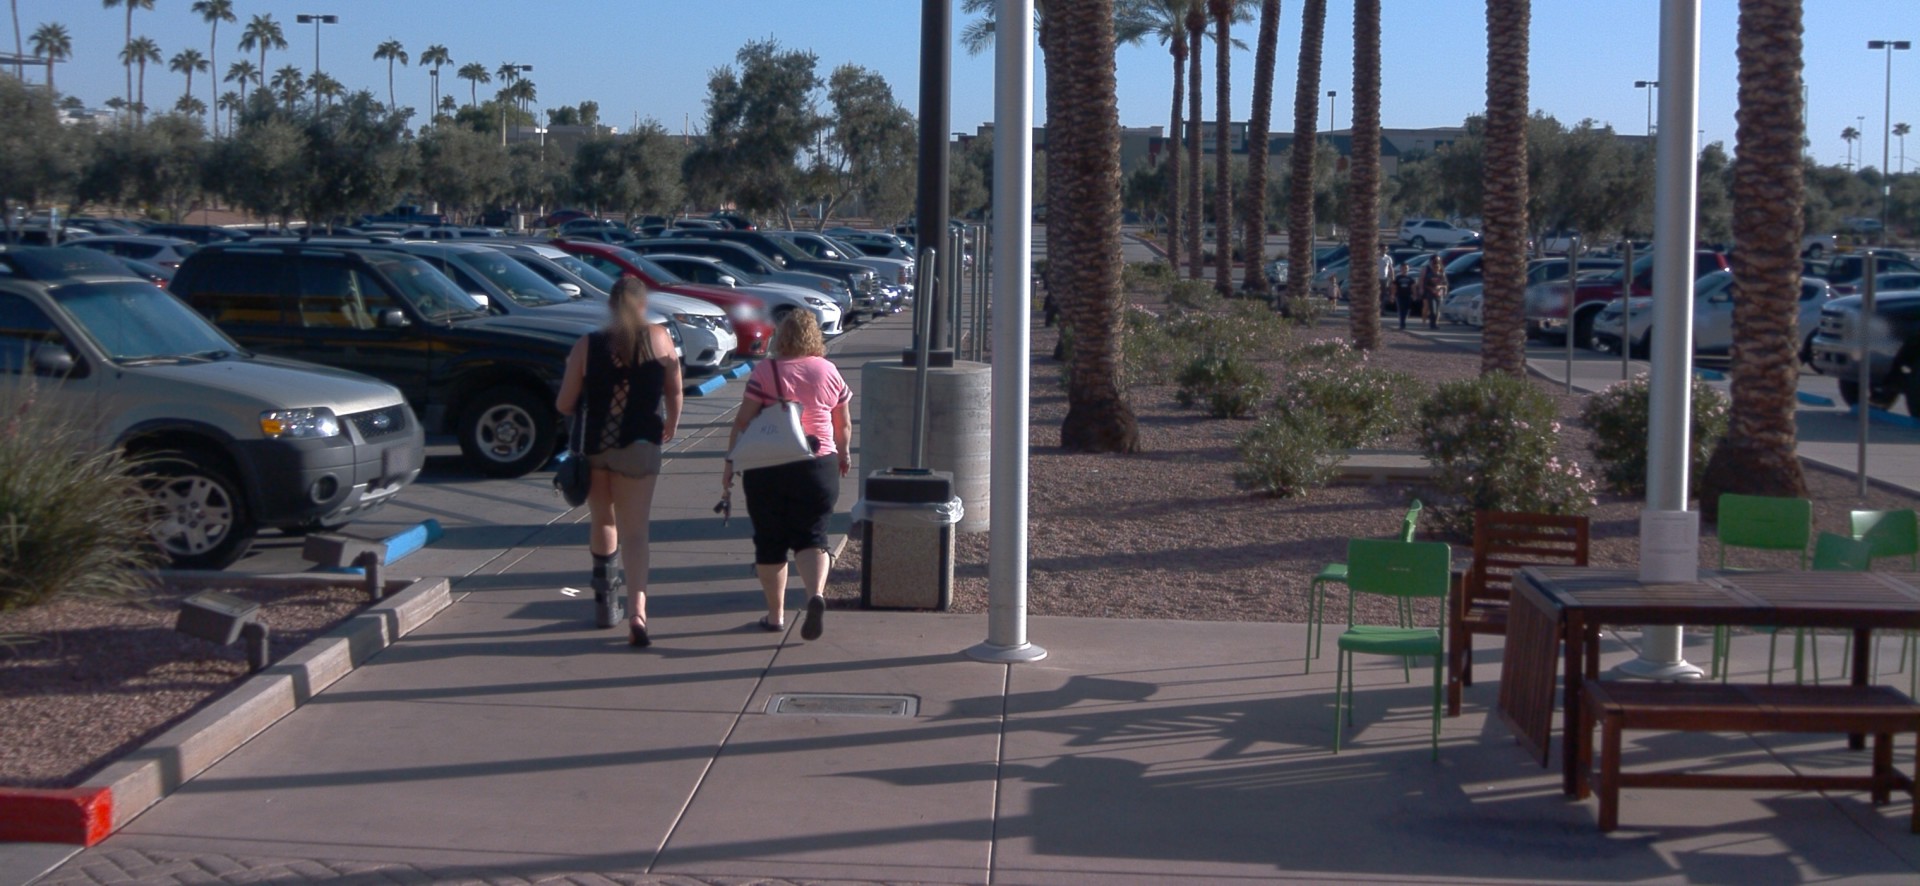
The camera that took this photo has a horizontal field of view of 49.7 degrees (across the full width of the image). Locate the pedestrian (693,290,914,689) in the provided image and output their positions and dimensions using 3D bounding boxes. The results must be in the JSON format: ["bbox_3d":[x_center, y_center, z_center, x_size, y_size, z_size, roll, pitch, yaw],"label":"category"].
[{"bbox_3d":[-0.777,0.180,10.145,1.001,1.808,1.002,1,2,-6],"label":"pedestrian"}]

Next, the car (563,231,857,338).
[{"bbox_3d":[-4.300,-2.791,36.240,4.853,1.736,1.871,1,4,0],"label":"car"}]

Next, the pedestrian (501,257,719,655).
[{"bbox_3d":[-1.698,0.013,10.261,0.949,1.828,1.141,1,2,-5],"label":"pedestrian"}]

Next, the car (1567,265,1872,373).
[{"bbox_3d":[11.957,-1.991,32.860,4.098,1.546,1.981,1,4,0],"label":"car"}]

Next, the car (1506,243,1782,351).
[{"bbox_3d":[11.644,-2.526,35.531,4.039,1.726,2.032,1,4,-1],"label":"car"}]

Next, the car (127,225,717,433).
[{"bbox_3d":[-5.036,-1.166,19.938,4.915,1.765,2.429,1,4,5],"label":"car"}]

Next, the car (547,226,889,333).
[{"bbox_3d":[-4.459,-3.120,39.081,6.083,1.845,2.452,1,4,1],"label":"car"}]

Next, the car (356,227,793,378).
[{"bbox_3d":[-4.827,-1.837,26.508,5.083,1.755,2.151,1,4,3],"label":"car"}]

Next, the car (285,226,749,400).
[{"bbox_3d":[-4.960,-1.535,23.707,4.762,1.805,2.091,1,4,4],"label":"car"}]
